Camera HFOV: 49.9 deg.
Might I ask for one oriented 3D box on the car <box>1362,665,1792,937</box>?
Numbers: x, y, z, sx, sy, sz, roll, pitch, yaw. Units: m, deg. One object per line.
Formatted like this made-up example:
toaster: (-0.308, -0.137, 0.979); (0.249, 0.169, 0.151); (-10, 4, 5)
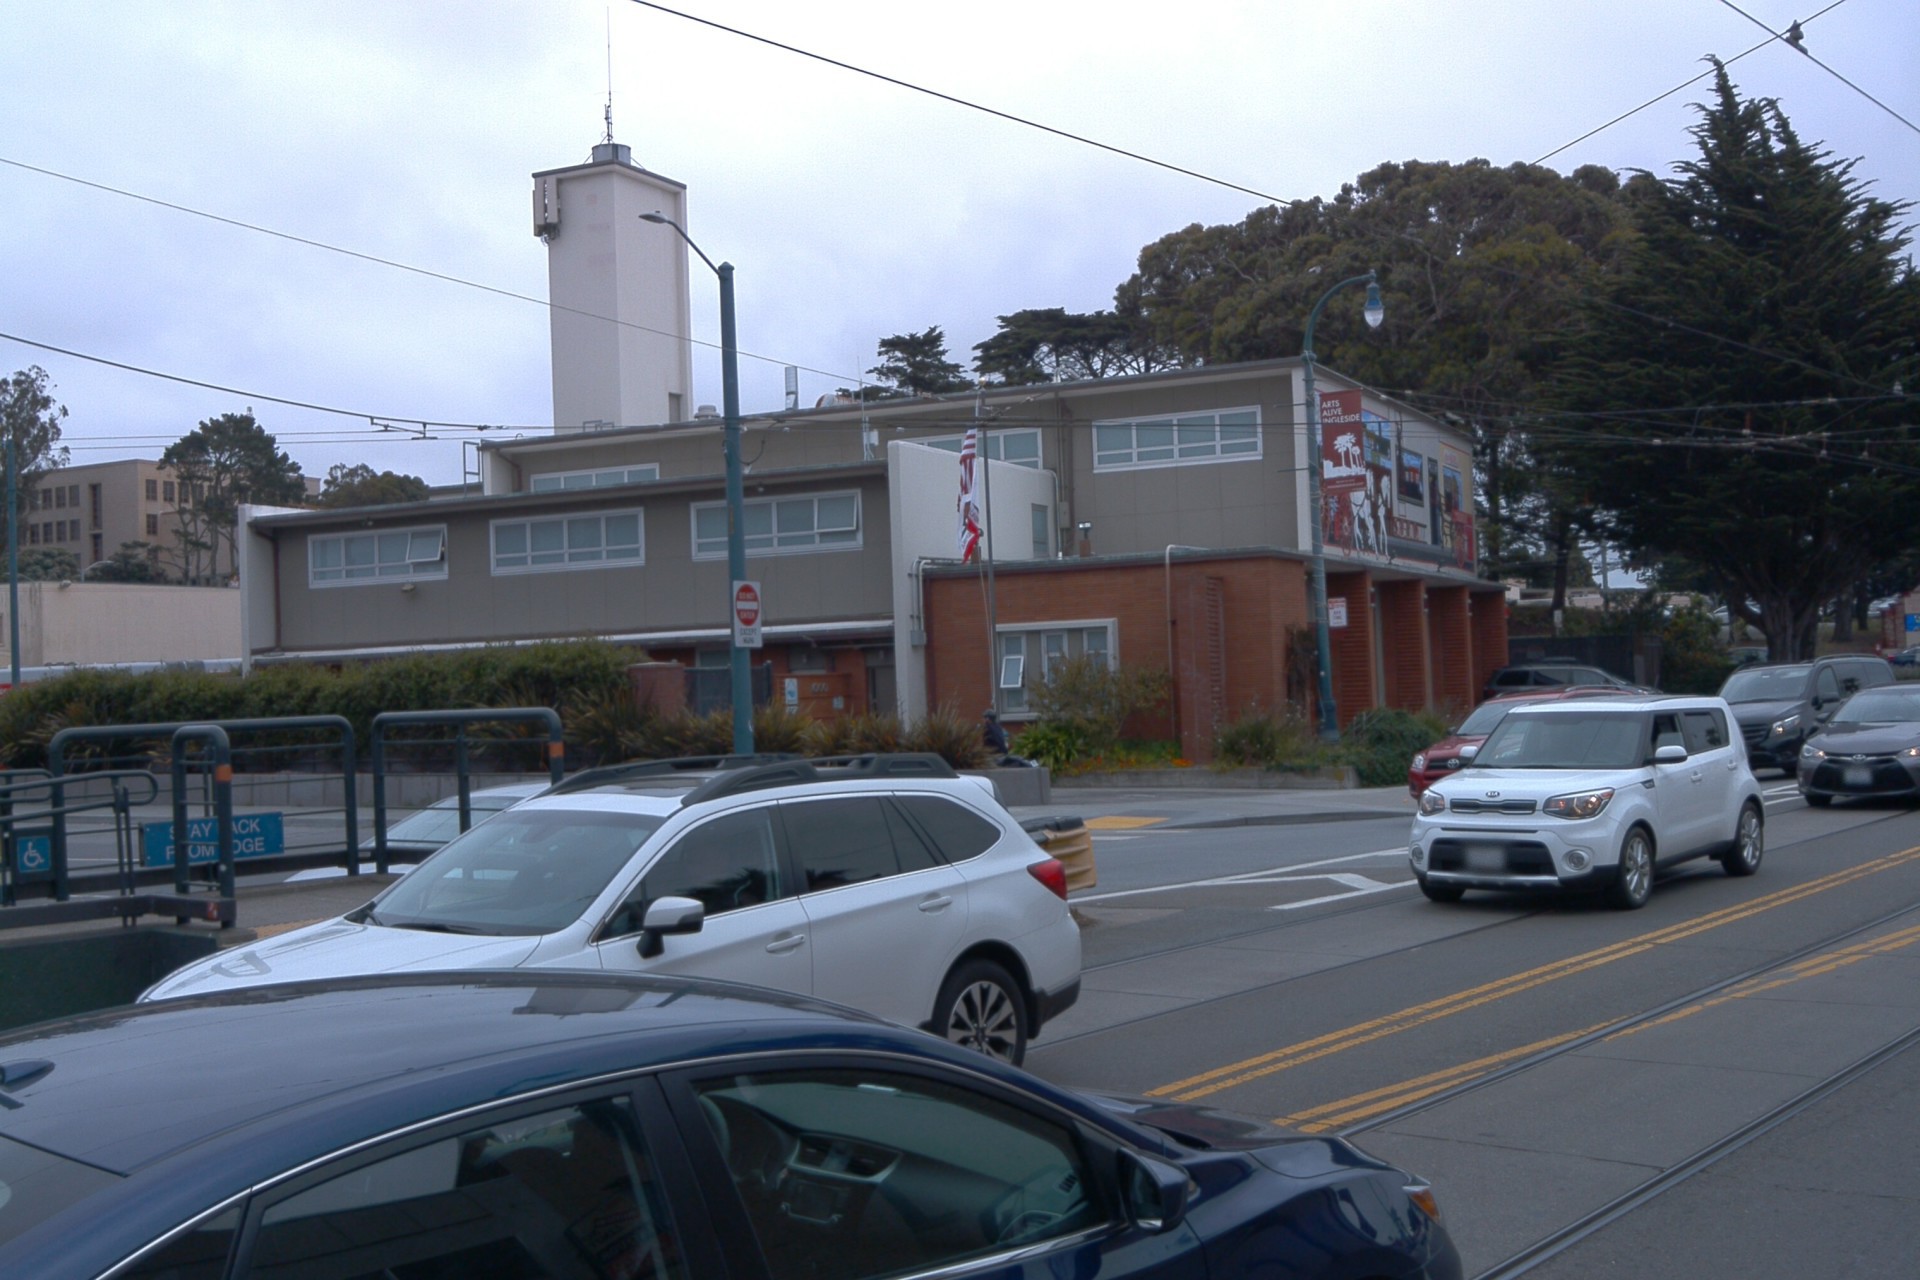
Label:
car: (5.282, 1.208, 17.323); (1.989, 1.850, 4.171); (1, 1, 39)

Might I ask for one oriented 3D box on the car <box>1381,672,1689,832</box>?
car: (7.868, 1.426, 27.993); (2.042, 1.830, 4.591); (1, 1, 45)

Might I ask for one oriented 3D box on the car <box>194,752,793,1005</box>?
car: (-3.586, 1.763, 16.466); (1.996, 1.420, 4.286); (1, 1, 42)
